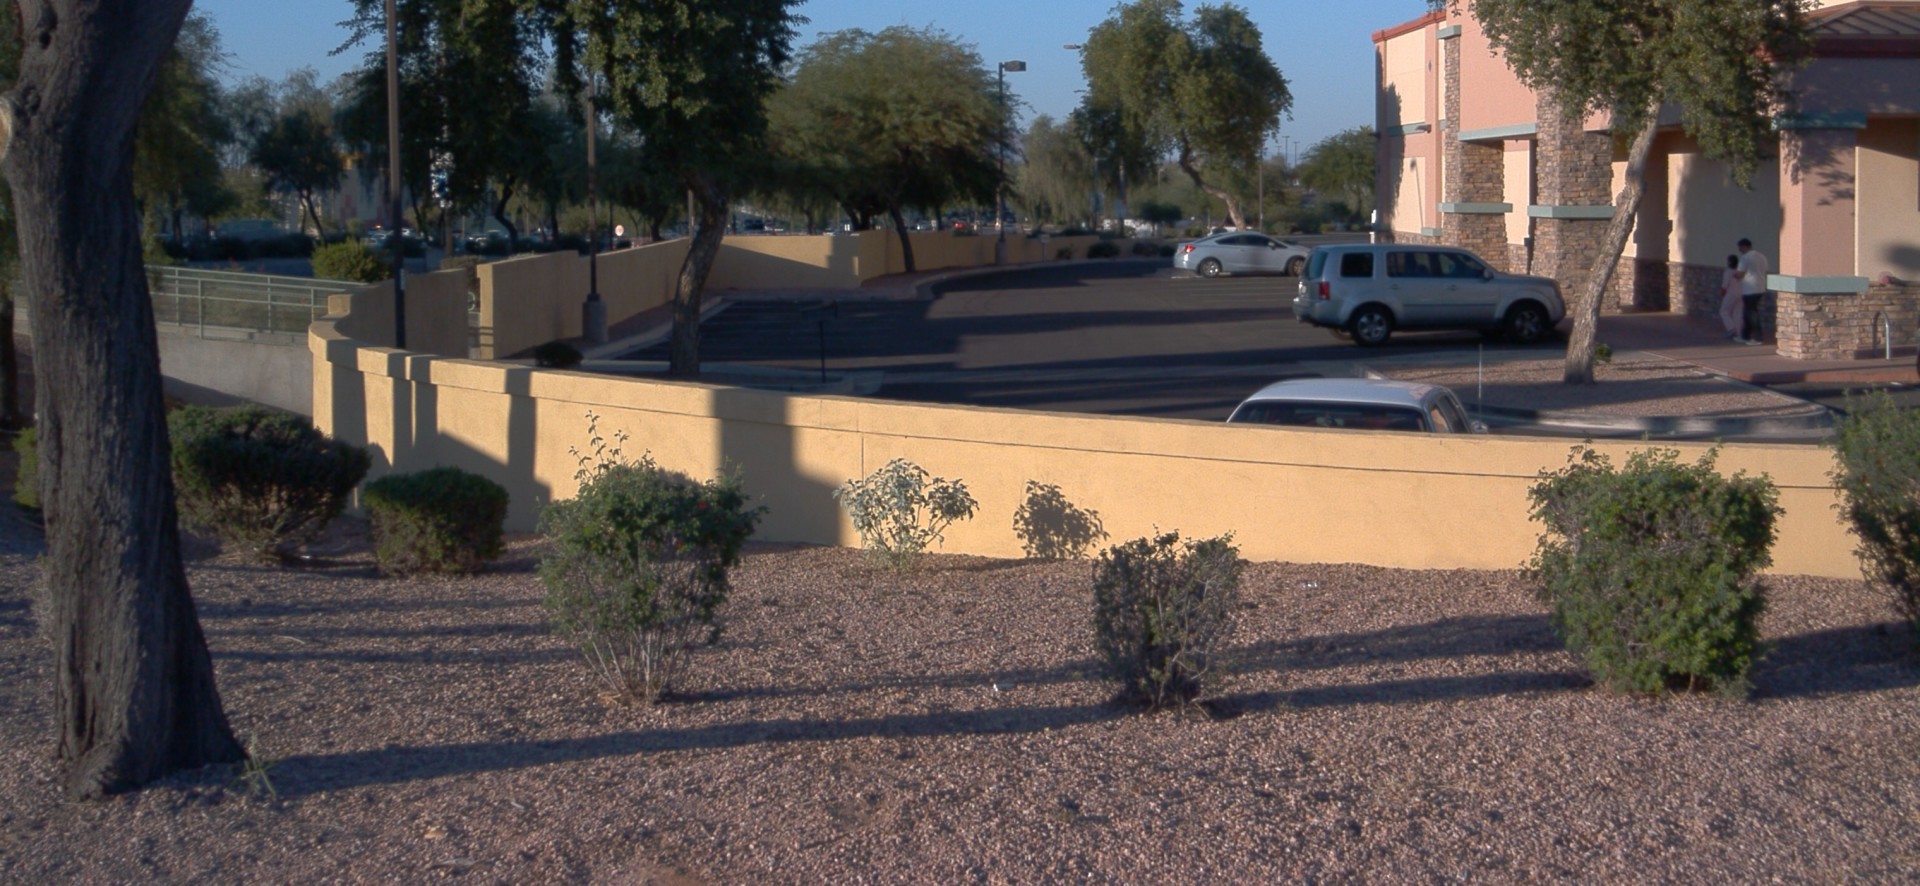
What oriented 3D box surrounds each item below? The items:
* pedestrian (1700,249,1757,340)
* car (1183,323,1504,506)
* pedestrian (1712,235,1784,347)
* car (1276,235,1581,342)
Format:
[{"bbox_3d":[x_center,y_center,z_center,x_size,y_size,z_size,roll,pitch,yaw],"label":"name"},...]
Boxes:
[{"bbox_3d":[12.914,-2.507,34.884,0.634,1.499,0.651,-1,1,-26],"label":"pedestrian"},{"bbox_3d":[3.231,-0.331,16.839,1.917,1.095,3.965,2,6,20],"label":"car"},{"bbox_3d":[12.903,-2.500,33.986,0.749,1.802,0.824,-1,1,-34],"label":"pedestrian"},{"bbox_3d":[8.395,-2.829,37.455,4.991,1.846,2.164,-1,4,-6],"label":"car"}]
